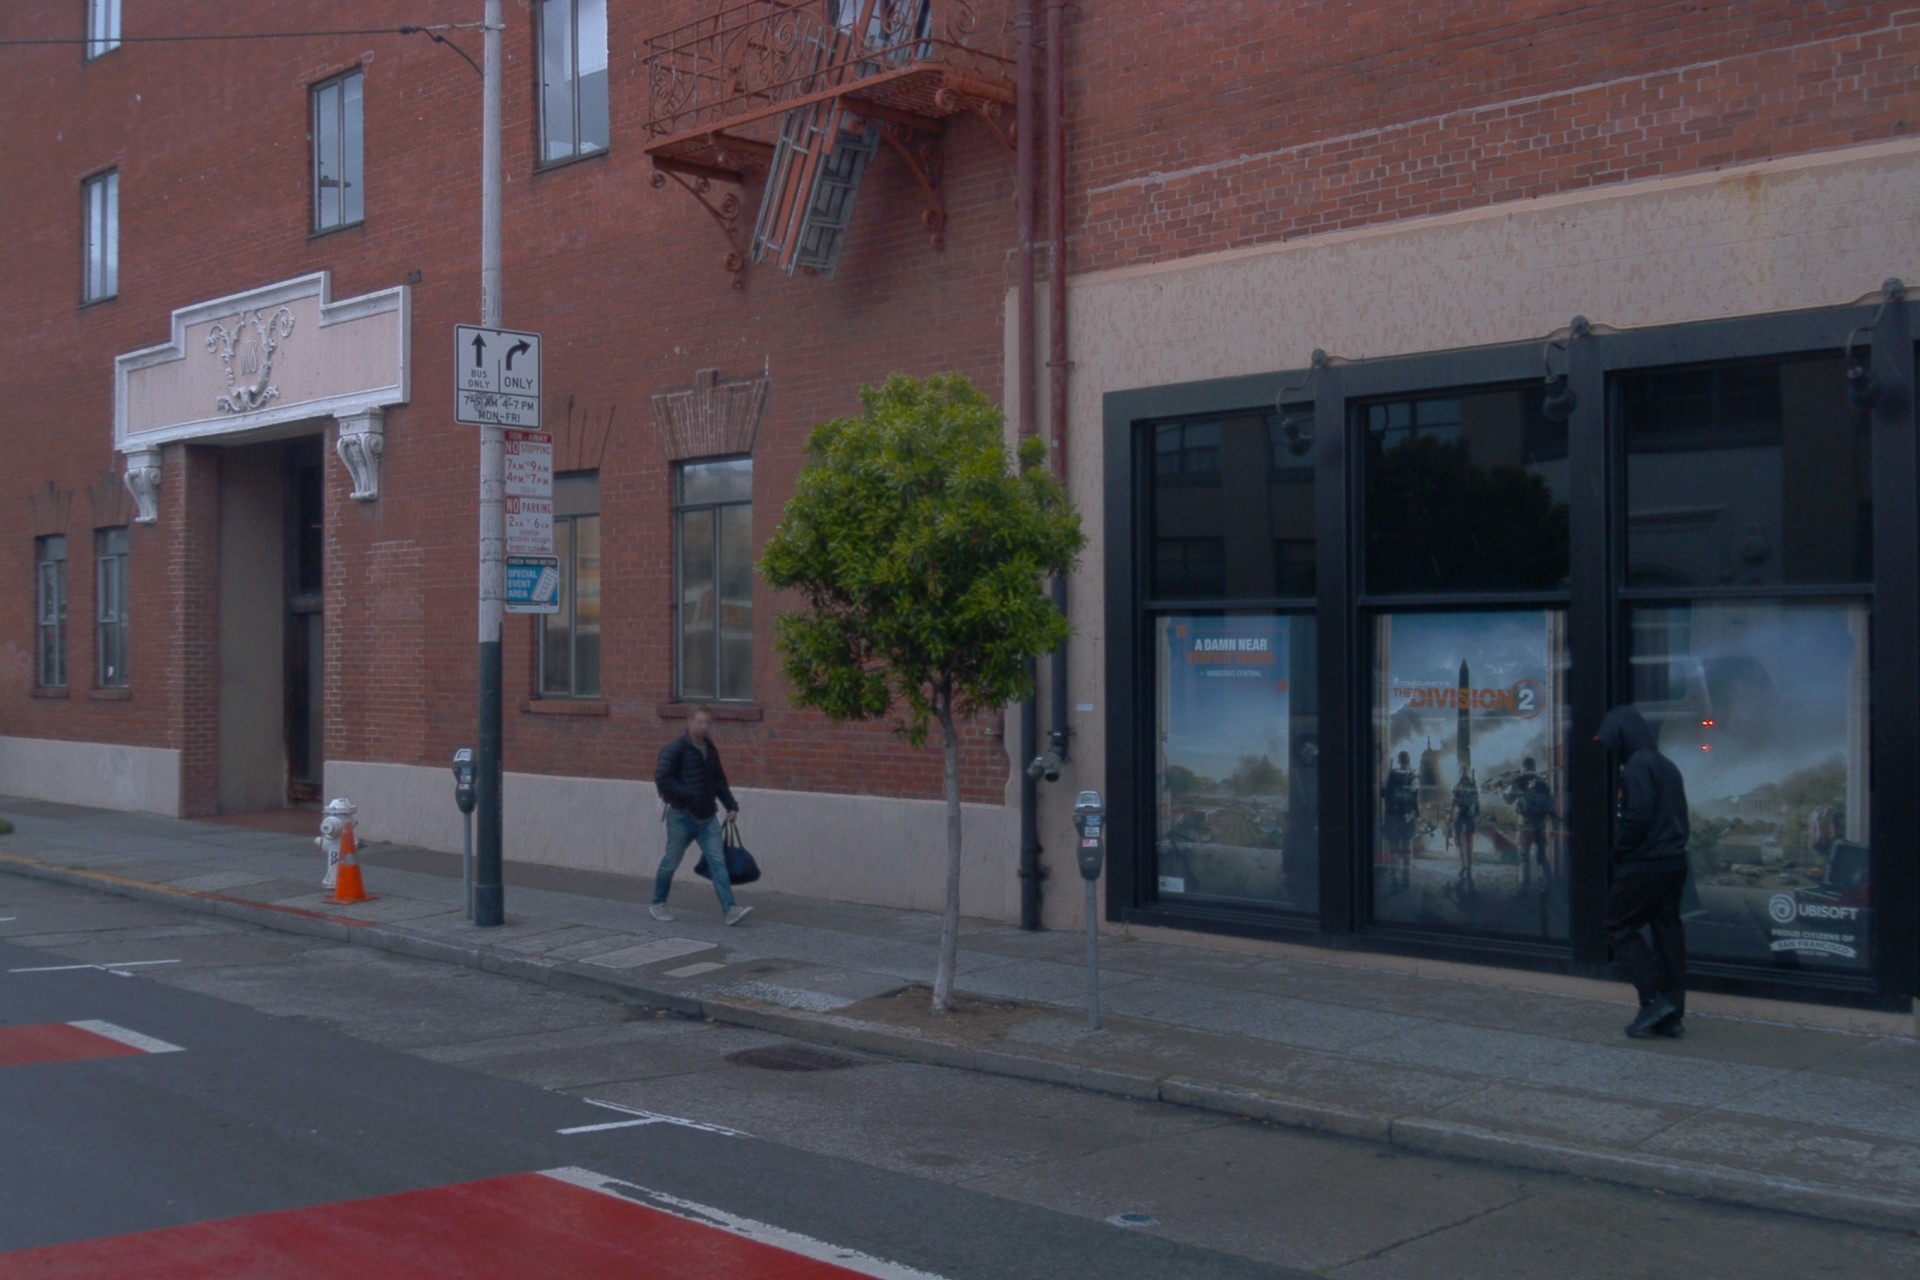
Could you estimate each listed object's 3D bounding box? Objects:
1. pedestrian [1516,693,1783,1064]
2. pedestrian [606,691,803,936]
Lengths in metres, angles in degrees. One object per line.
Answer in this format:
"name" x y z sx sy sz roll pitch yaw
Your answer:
"pedestrian" 3.708 1.225 11.151 0.798 1.848 1.126 1 -1 -45
"pedestrian" -1.933 1.266 15.625 0.979 1.730 1.128 1 -1 -43
